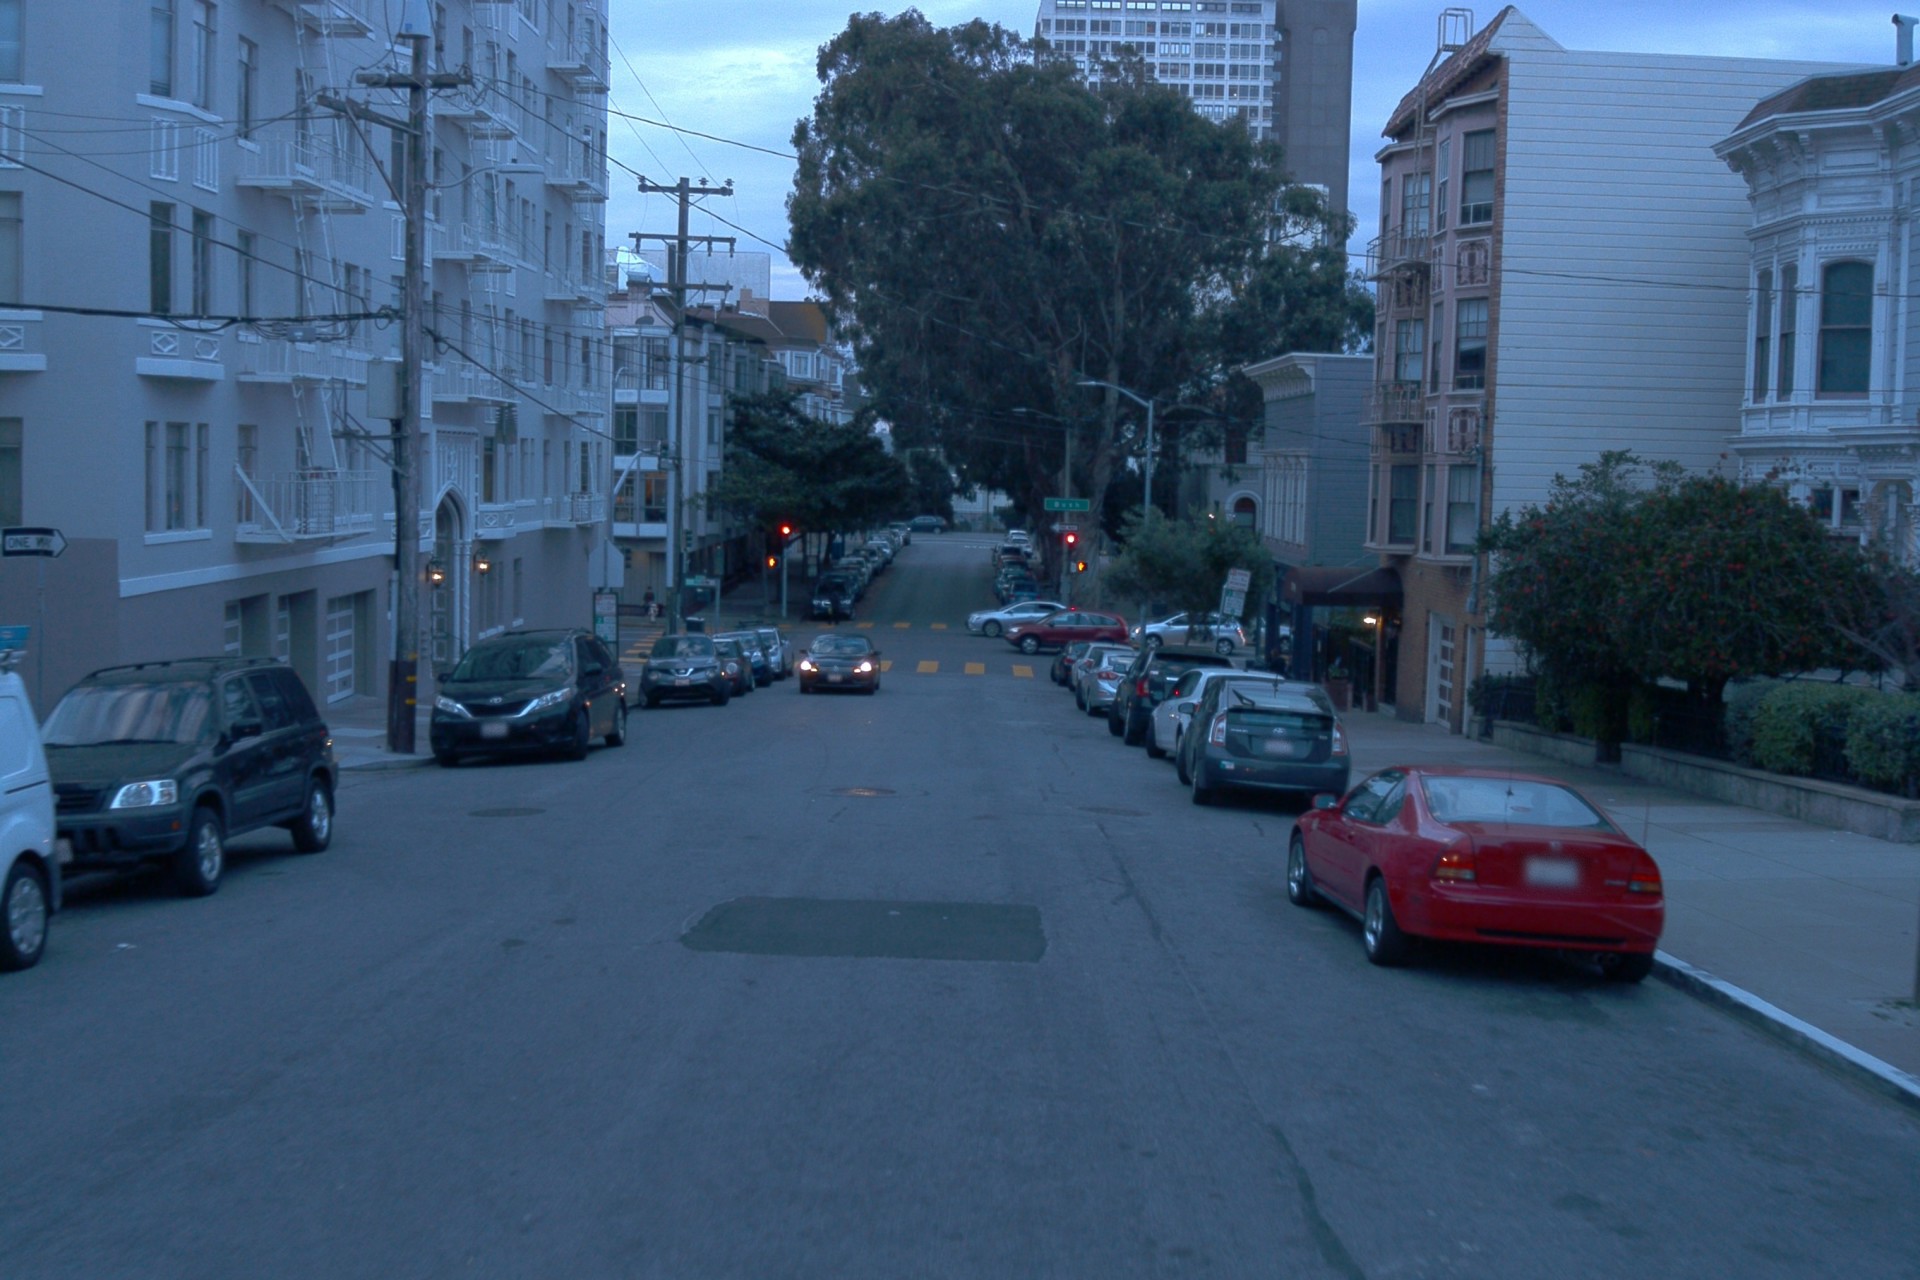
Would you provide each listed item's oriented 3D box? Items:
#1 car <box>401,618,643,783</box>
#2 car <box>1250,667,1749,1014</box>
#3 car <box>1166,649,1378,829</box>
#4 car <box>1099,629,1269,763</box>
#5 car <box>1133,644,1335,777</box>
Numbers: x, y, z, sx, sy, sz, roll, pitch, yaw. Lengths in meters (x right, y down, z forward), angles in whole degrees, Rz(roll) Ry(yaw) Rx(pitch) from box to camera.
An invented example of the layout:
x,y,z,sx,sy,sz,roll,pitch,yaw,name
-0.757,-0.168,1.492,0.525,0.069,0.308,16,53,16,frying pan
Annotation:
x,y,z,sx,sy,sz,roll,pitch,yaw,name
-6.010,0.747,28.918,2.333,2.050,5.123,1,1,-1,car
3.519,1.221,14.444,2.118,1.890,4.540,1,1,-2,car
3.628,1.092,24.673,2.066,1.830,4.432,1,1,3,car
3.765,0.887,35.428,2.390,2.070,4.749,1,1,0,car
3.917,0.969,30.108,2.127,1.700,4.152,1,1,-4,car
